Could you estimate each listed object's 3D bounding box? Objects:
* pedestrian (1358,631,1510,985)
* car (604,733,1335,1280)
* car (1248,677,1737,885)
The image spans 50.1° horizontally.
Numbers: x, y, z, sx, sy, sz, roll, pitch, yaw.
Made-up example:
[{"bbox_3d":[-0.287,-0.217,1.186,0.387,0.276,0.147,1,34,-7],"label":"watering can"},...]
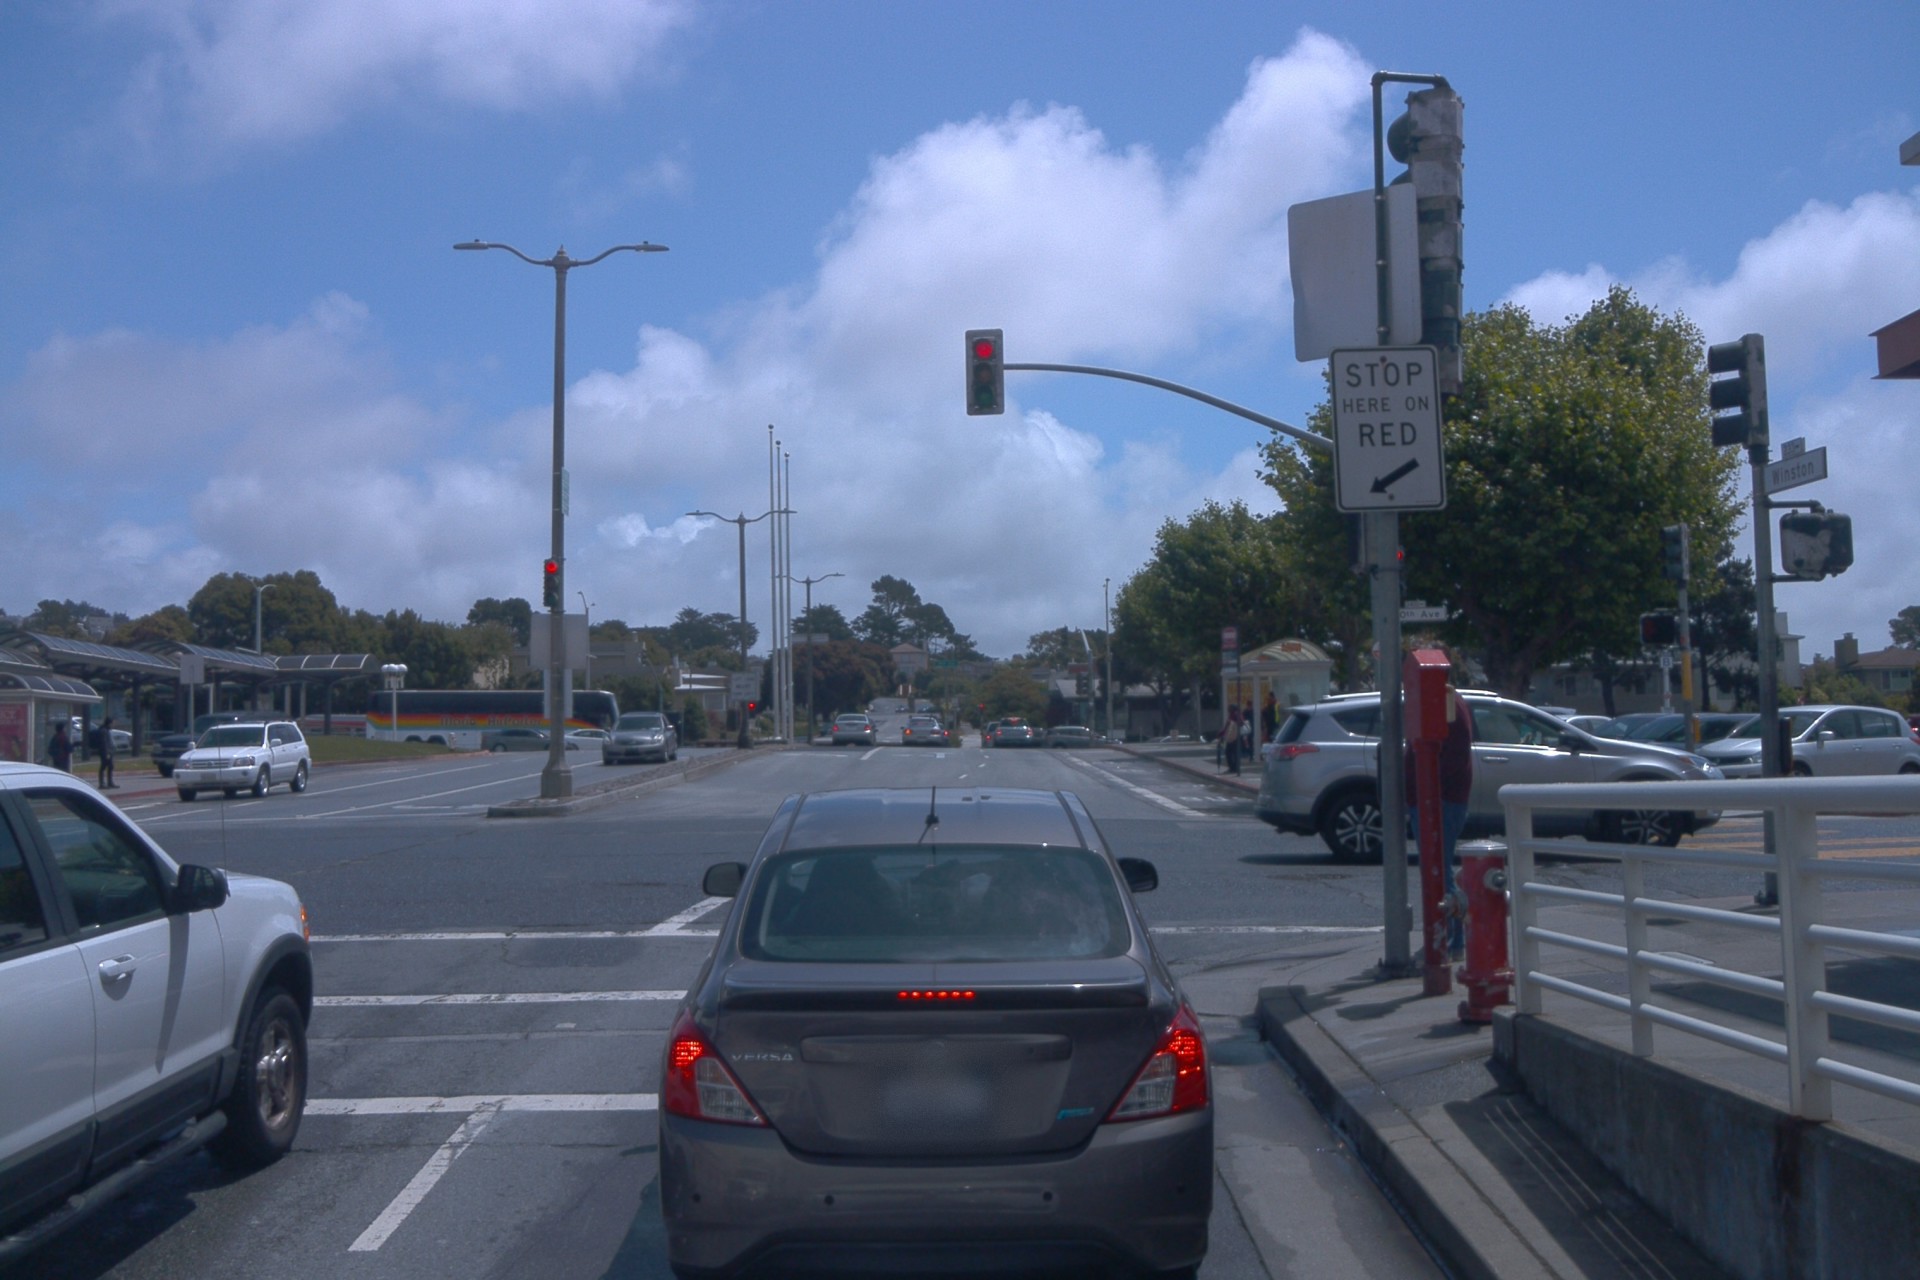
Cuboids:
[{"bbox_3d":[2.654,0.907,11.571,0.594,1.910,0.830,0,1,-5],"label":"pedestrian"},{"bbox_3d":[-0.070,1.261,7.573,1.939,1.580,4.232,0,1,-3],"label":"car"},{"bbox_3d":[5.216,1.352,20.745,4.518,1.900,2.127,0,1,7],"label":"car"}]
